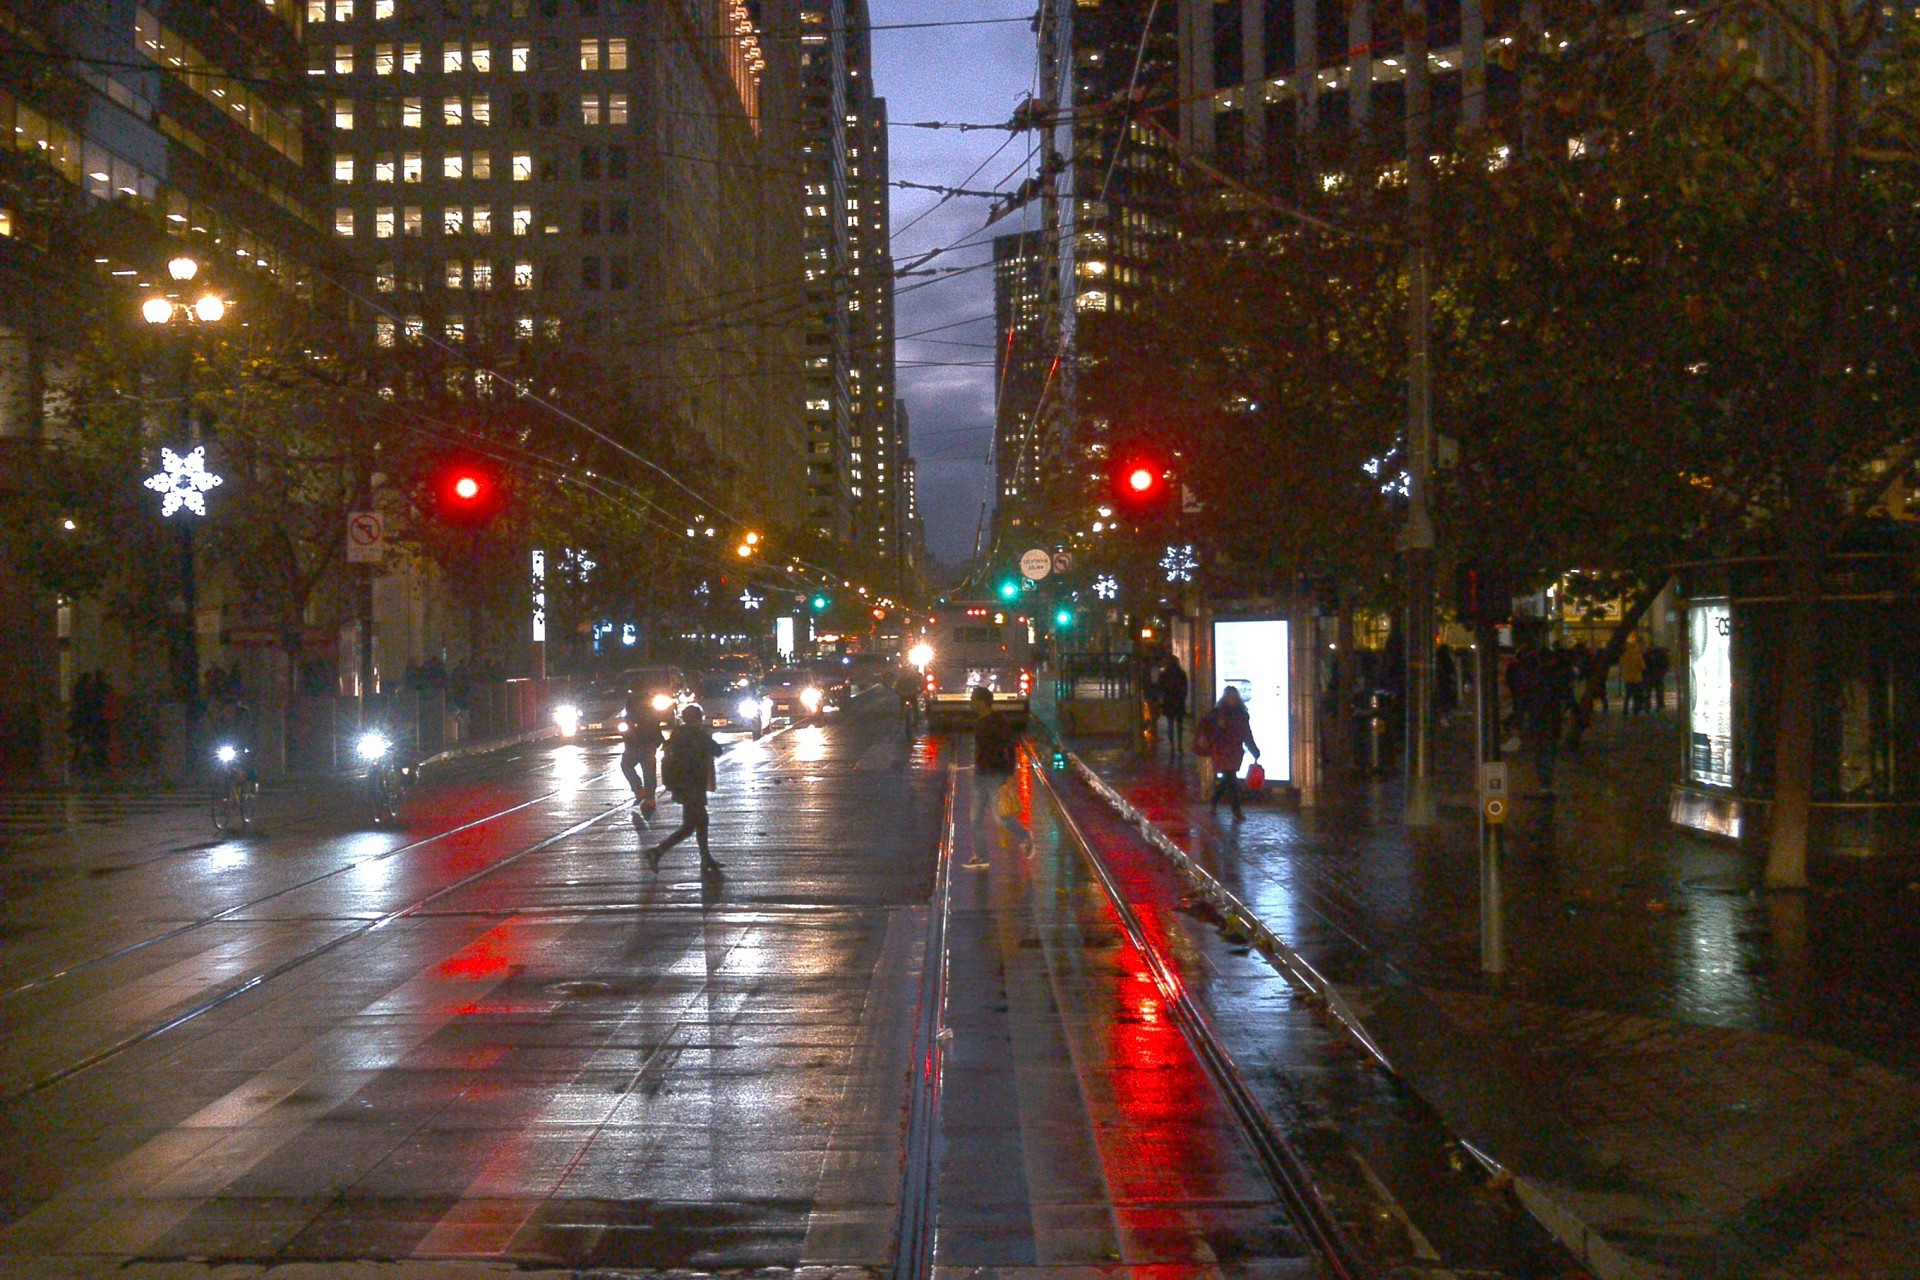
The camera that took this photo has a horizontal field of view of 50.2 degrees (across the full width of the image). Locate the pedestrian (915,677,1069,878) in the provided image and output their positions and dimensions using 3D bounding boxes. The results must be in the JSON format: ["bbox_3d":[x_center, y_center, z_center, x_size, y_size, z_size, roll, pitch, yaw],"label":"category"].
[{"bbox_3d":[0.303,1.258,19.235,1.149,1.800,0.870,0,0,-39],"label":"pedestrian"}]

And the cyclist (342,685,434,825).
[{"bbox_3d":[-7.195,1.424,25.842,0.731,1.680,1.743,0,0,-2],"label":"cyclist"}]

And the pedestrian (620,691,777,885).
[{"bbox_3d":[-2.404,1.321,18.765,1.051,1.670,1.131,0,0,-31],"label":"pedestrian"}]

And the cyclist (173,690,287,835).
[{"bbox_3d":[-8.968,1.477,25.237,0.761,1.680,1.785,0,0,0],"label":"cyclist"}]

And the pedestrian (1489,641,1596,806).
[{"bbox_3d":[7.088,0.984,24.903,0.925,1.940,1.203,0,0,34],"label":"pedestrian"}]

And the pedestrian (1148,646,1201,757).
[{"bbox_3d":[3.739,1.058,35.585,0.780,1.890,1.221,0,0,13],"label":"pedestrian"}]

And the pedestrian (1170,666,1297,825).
[{"bbox_3d":[3.042,1.151,22.850,1.007,1.710,1.061,0,0,-23],"label":"pedestrian"}]

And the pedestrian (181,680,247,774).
[{"bbox_3d":[-13.096,1.517,35.970,1.000,1.630,0.740,0,0,-12],"label":"pedestrian"}]

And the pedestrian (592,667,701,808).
[{"bbox_3d":[-4.118,1.258,26.871,1.177,1.780,0.852,0,0,41],"label":"pedestrian"}]
